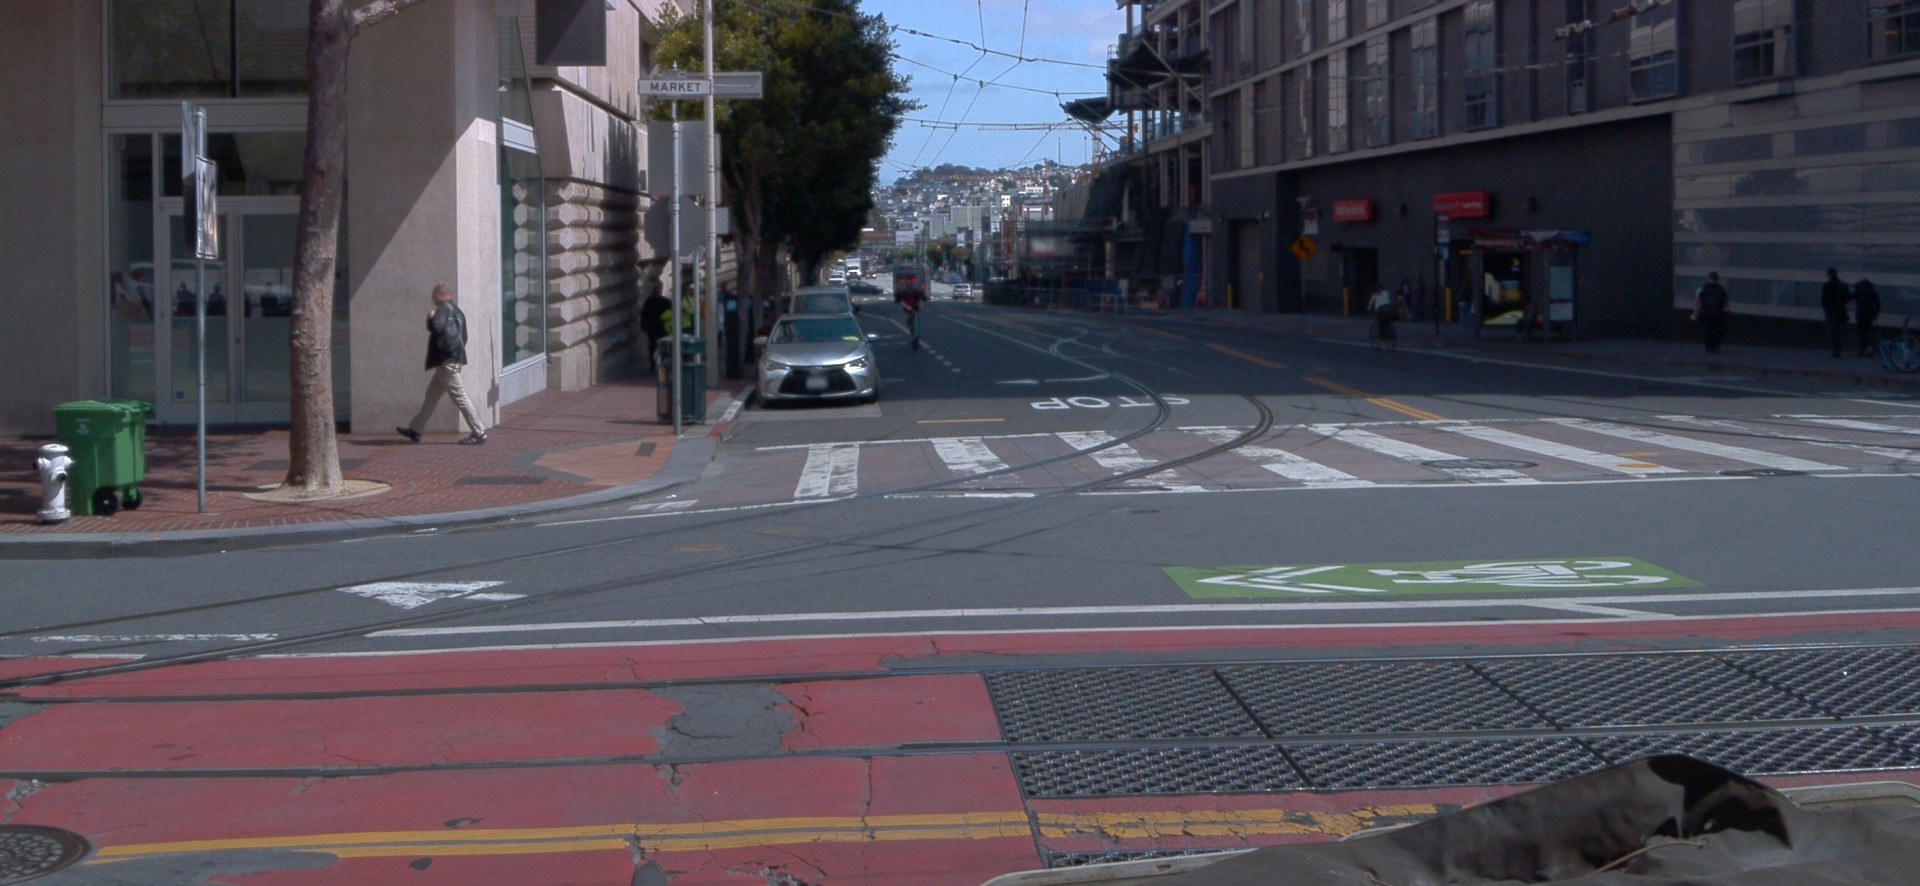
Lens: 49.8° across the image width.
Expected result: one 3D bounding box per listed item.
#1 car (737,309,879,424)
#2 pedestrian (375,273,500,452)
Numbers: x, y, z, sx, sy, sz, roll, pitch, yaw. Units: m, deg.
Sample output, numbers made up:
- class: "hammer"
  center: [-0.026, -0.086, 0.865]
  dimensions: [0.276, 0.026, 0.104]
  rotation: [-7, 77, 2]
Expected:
- class: "car"
  center: [-2.455, -1.329, 34.007]
  dimensions: [2.160, 1.492, 4.838]
  rotation: [-1, 6, -3]
- class: "pedestrian"
  center: [-6.035, -0.947, 23.927]
  dimensions: [1.156, 2.006, 0.881]
  rotation: [0, 2, 5]
